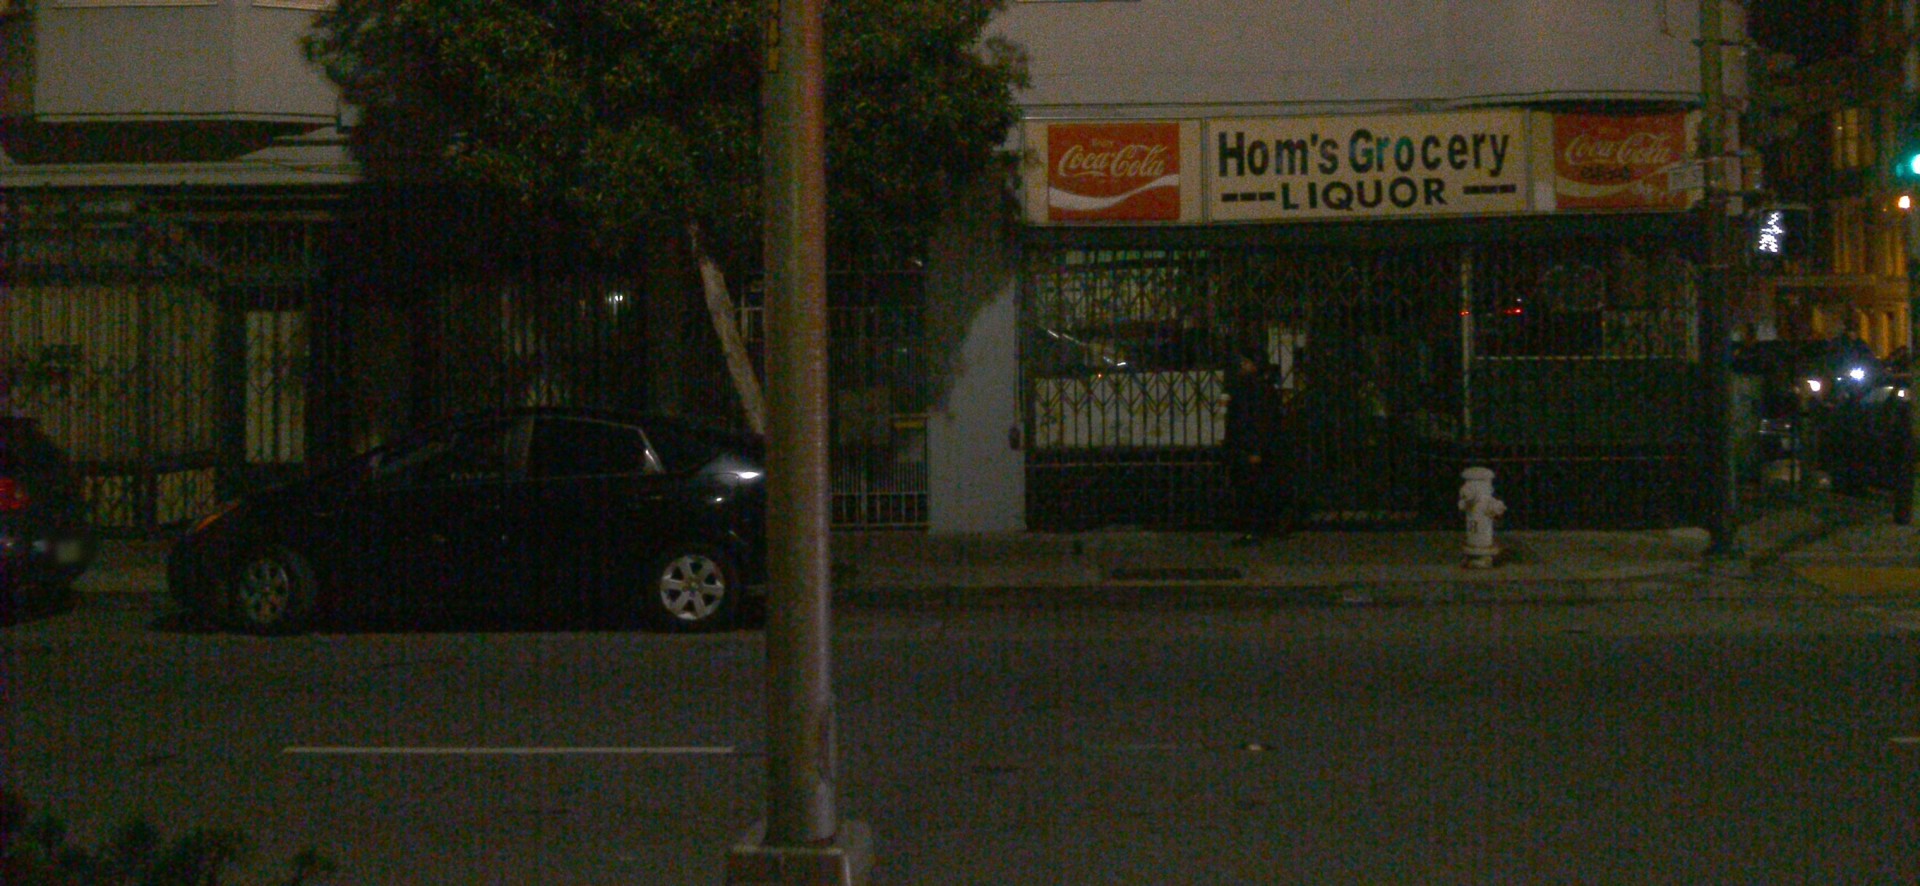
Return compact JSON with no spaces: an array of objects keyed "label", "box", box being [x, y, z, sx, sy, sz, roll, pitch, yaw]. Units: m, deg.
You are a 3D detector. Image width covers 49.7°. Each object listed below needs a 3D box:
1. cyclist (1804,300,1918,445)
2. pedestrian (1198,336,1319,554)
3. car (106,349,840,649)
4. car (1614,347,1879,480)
[{"label":"cyclist","box":[12.535,-1.022,28.882,0.822,1.866,1.958,0,4,3]},{"label":"pedestrian","box":[2.434,-0.010,16.975,0.820,1.688,0.880,0,2,-3]},{"label":"car","box":[-3.146,0.314,14.161,4.570,1.776,1.947,0,4,-2]},{"label":"car","box":[10.560,-0.480,28.200,1.990,1.353,4.636,0,6,2]}]
